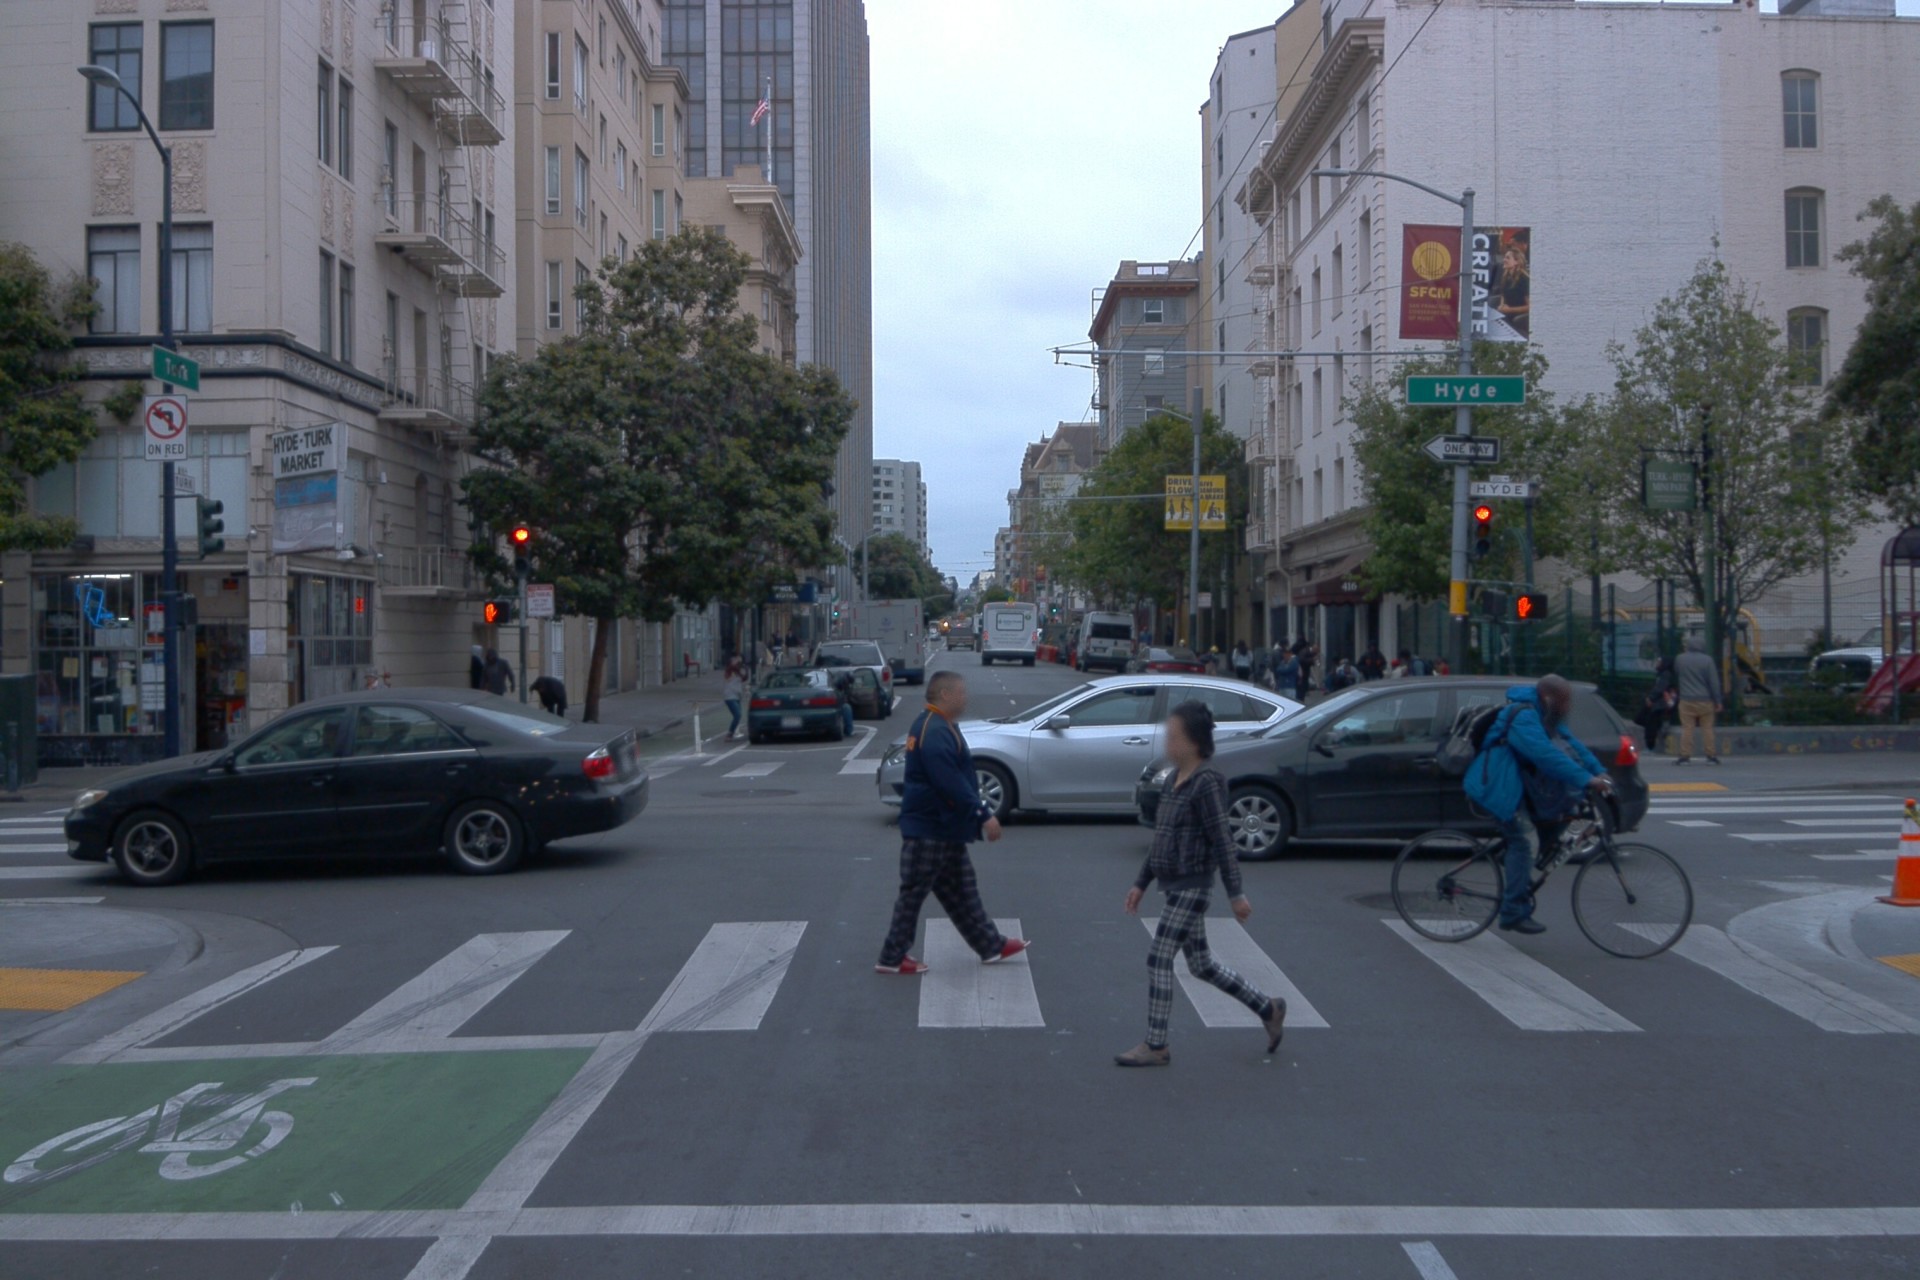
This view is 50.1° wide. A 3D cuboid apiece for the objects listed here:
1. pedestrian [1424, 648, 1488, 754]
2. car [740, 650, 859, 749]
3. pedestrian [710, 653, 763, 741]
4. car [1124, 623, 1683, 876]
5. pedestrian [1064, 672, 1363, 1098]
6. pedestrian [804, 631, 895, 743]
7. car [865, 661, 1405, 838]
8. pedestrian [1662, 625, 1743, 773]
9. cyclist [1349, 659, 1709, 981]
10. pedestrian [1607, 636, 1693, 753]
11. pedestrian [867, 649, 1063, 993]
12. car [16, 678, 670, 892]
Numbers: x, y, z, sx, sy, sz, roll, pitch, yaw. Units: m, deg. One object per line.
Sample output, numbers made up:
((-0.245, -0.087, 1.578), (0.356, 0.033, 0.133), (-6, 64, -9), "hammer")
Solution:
((7.731, 0.941, 32.087), (0.906, 1.620, 0.868), (0, 1, 9), "pedestrian")
((-2.869, 1.039, 37.544), (1.721, 1.630, 3.892), (0, 1, 2), "car")
((-4.100, 1.035, 37.710), (0.695, 1.580, 0.680), (-1, 1, -37), "pedestrian")
((3.524, 0.850, 16.959), (4.214, 1.950, 1.862), (0, 1, 1), "car")
((1.109, 1.043, 9.231), (1.093, 1.760, 0.988), (0, 1, -9), "pedestrian")
((-2.027, 0.844, 37.704), (1.251, 1.990, 1.103), (-1, 1, -40), "pedestrian")
((1.603, 1.015, 19.859), (4.932, 1.550, 2.047), (0, 1, 1), "car")
((10.327, 0.799, 28.601), (0.836, 2.010, 0.794), (1, 1, 40), "pedestrian")
((3.381, 1.003, 12.180), (1.968, 1.750, 1.004), (0, 1, 21), "cyclist")
((10.495, 0.815, 31.304), (0.947, 1.720, 0.961), (0, 1, -4), "pedestrian")
((0.011, 0.964, 11.382), (1.035, 1.800, 0.907), (0, 1, -2), "pedestrian")
((-4.996, 1.159, 17.156), (4.826, 1.600, 2.060), (0, 1, 2), "car")
